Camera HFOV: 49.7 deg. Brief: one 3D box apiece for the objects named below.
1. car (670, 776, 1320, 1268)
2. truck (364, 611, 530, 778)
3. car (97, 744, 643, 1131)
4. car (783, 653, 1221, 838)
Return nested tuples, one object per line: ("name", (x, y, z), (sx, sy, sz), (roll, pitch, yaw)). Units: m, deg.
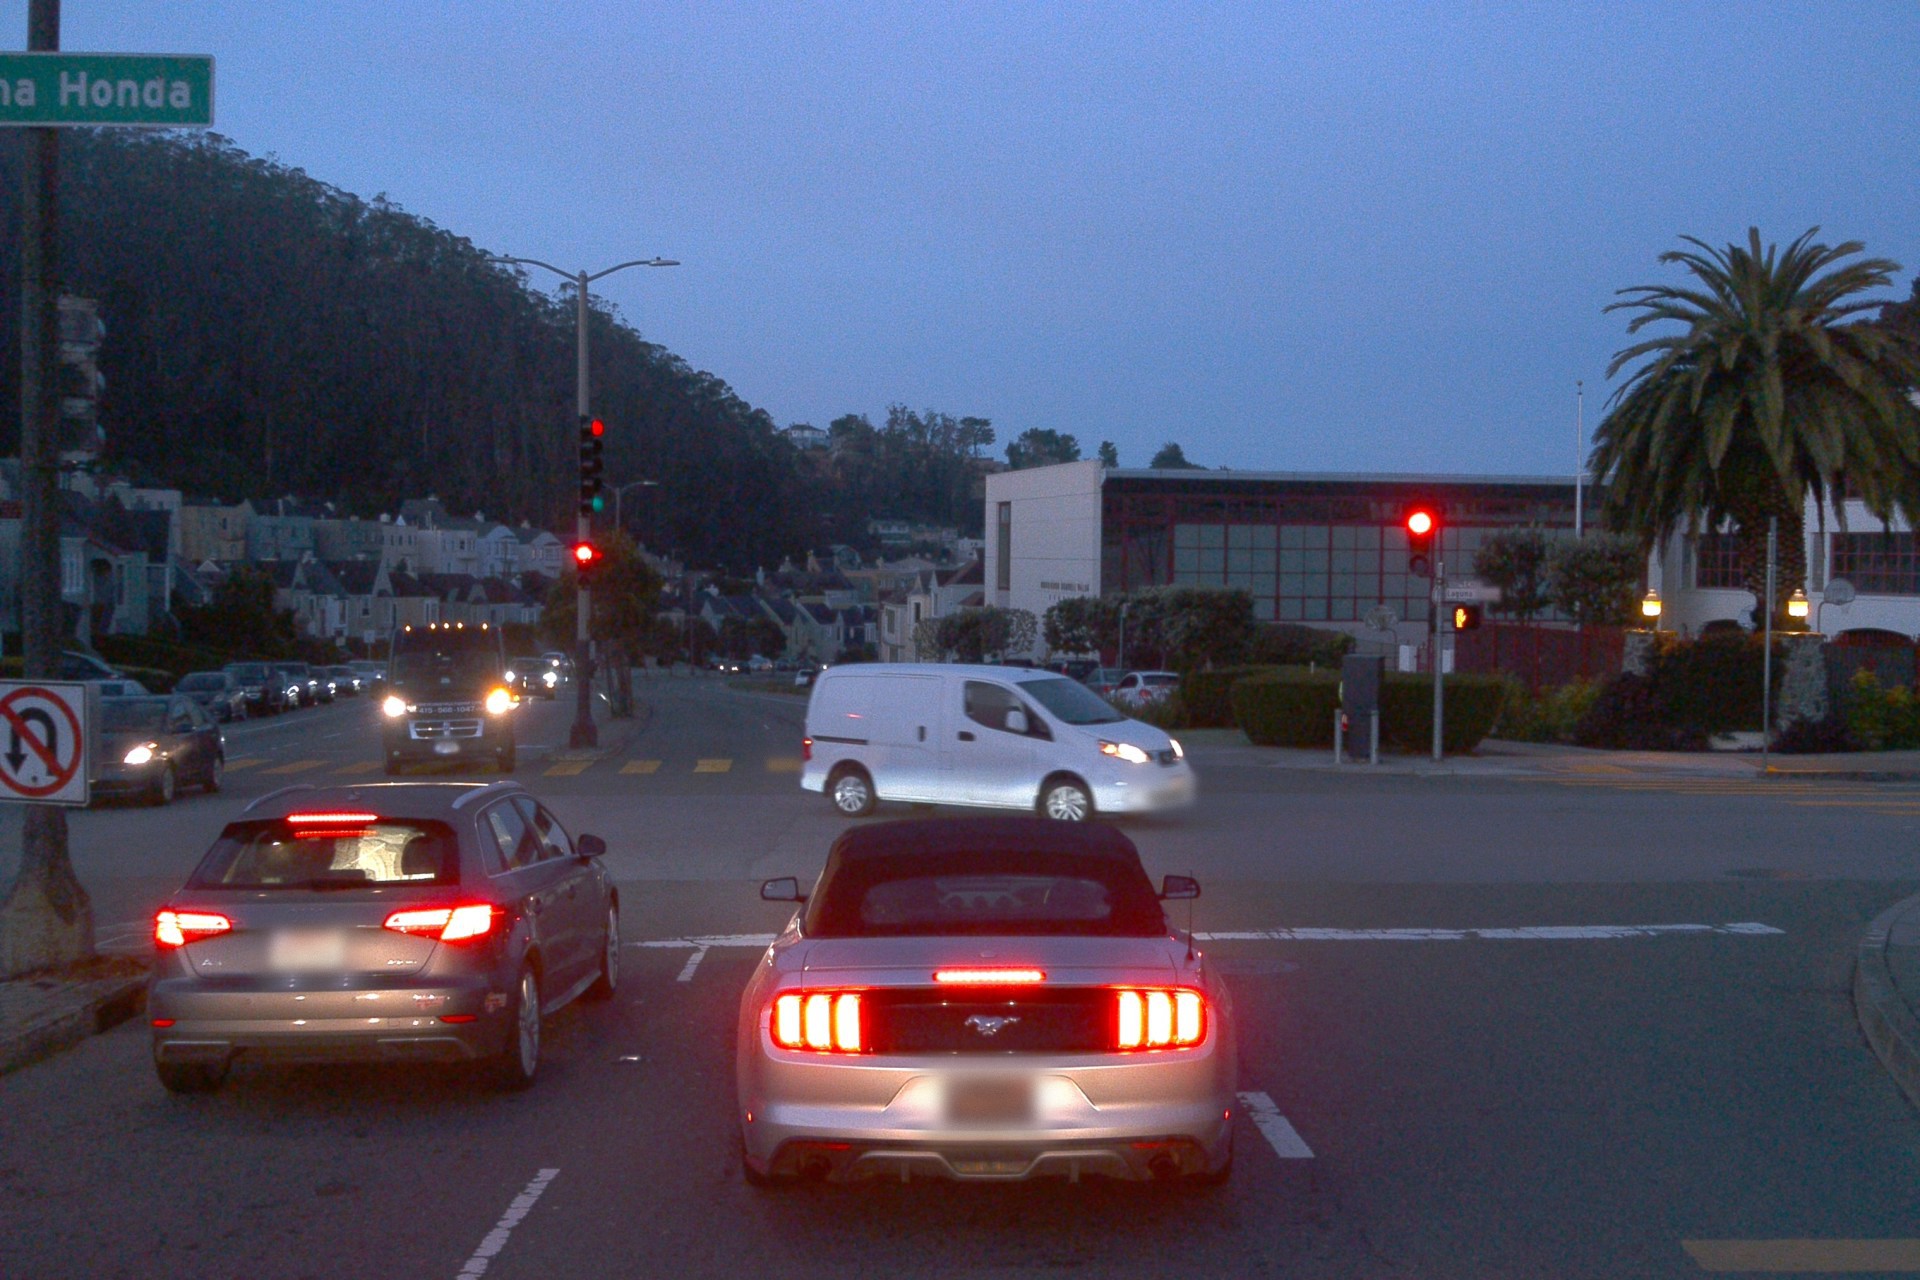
("car", (0.099, 1.422, 9.110), (2.174, 1.380, 4.355), (0, 0, 0))
("truck", (-8.709, 0.873, 35.566), (2.548, 2.610, 5.653), (0, 0, -12))
("car", (-2.886, 1.402, 11.058), (1.782, 1.510, 3.987), (0, 0, 0))
("car", (0.458, 1.164, 24.776), (4.849, 2.000, 2.099), (0, 0, 33))
